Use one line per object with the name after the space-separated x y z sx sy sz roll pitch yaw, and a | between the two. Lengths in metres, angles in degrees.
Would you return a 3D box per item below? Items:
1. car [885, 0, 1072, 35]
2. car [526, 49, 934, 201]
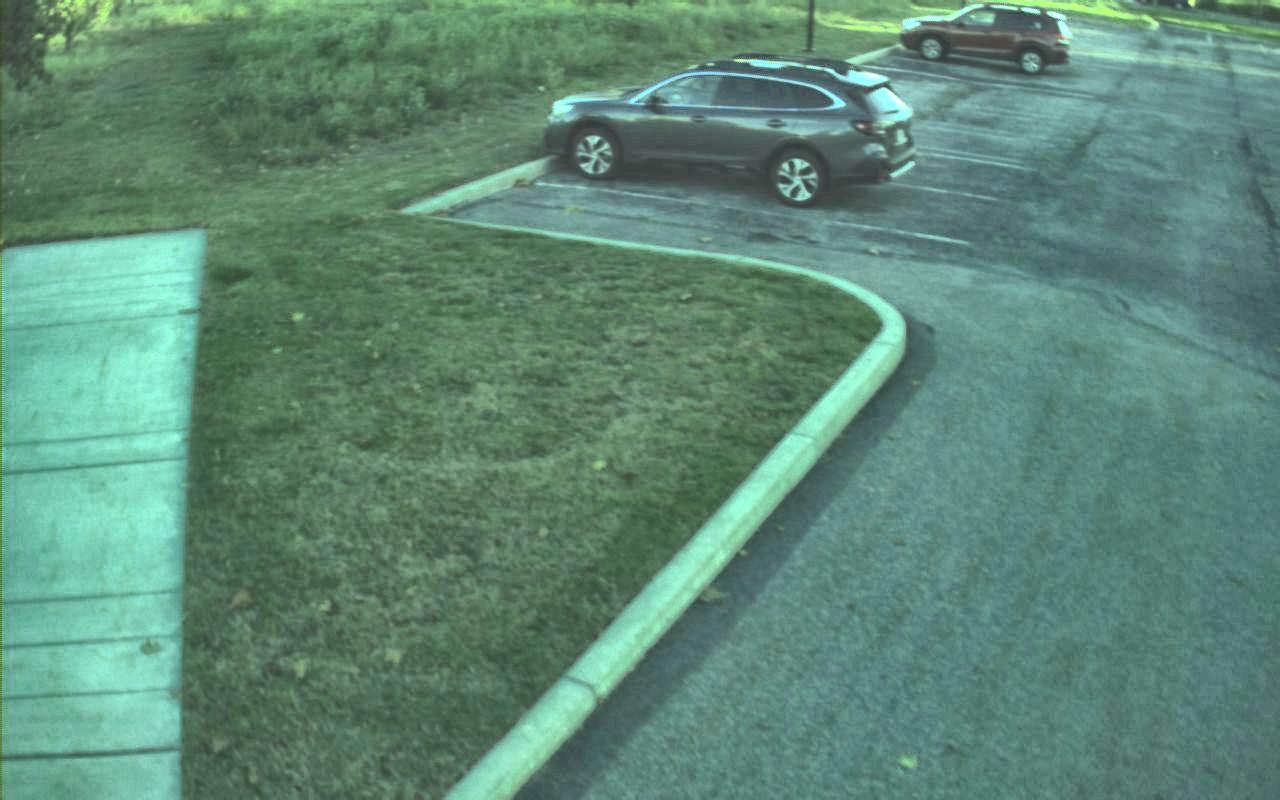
8.880 -10.413 30.791 4.768 1.716 2.036 6 17 22 | car
1.157 -3.589 15.667 4.772 1.699 2.034 7 17 25 | car
